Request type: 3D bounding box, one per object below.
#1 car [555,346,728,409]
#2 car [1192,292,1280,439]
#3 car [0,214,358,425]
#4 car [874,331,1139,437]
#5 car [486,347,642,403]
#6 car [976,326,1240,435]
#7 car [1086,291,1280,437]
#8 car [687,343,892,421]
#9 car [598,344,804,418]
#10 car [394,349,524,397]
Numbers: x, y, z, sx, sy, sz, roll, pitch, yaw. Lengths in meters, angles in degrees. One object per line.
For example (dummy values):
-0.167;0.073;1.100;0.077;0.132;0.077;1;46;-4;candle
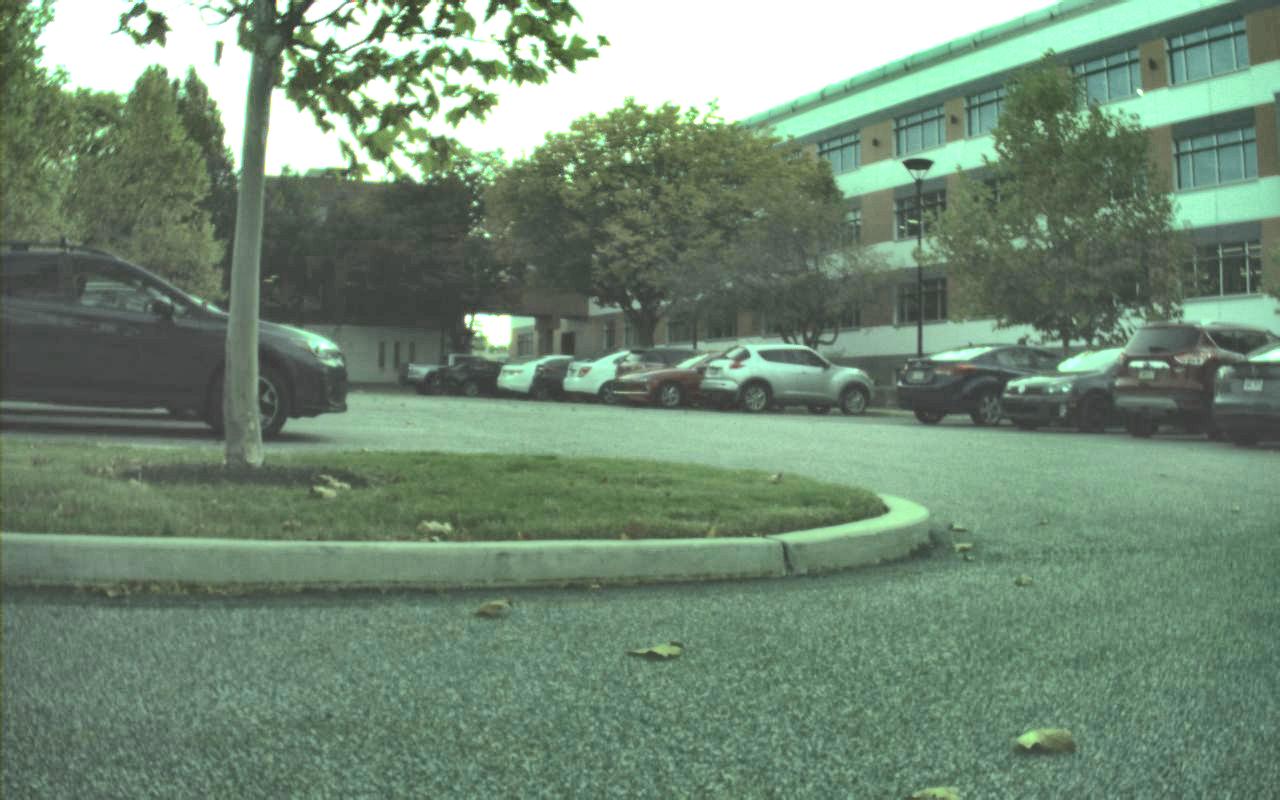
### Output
0.027;-0.626;35.598;4.476;1.687;1.947;0;1;-21;car
9.170;-0.368;13.974;4.490;1.636;1.969;0;1;-18;car
-4.850;-0.637;10.091;4.578;1.672;1.955;0;1;-28;car
6.438;-0.271;21.135;4.576;1.655;1.963;0;1;-24;car
-2.429;-0.791;40.093;4.593;1.719;1.990;0;1;-22;car
7.587;-0.297;19.019;4.375;1.557;1.895;0;1;-24;car
8.664;-0.468;16.801;4.586;1.869;1.990;0;1;-28;car
3.382;-0.416;28.303;4.269;1.639;1.880;0;1;-22;car
1.465;-0.467;30.353;4.561;1.680;1.965;0;1;-20;car
-7.516;-1.101;51.732;5.024;1.917;2.092;0;1;-25;car
